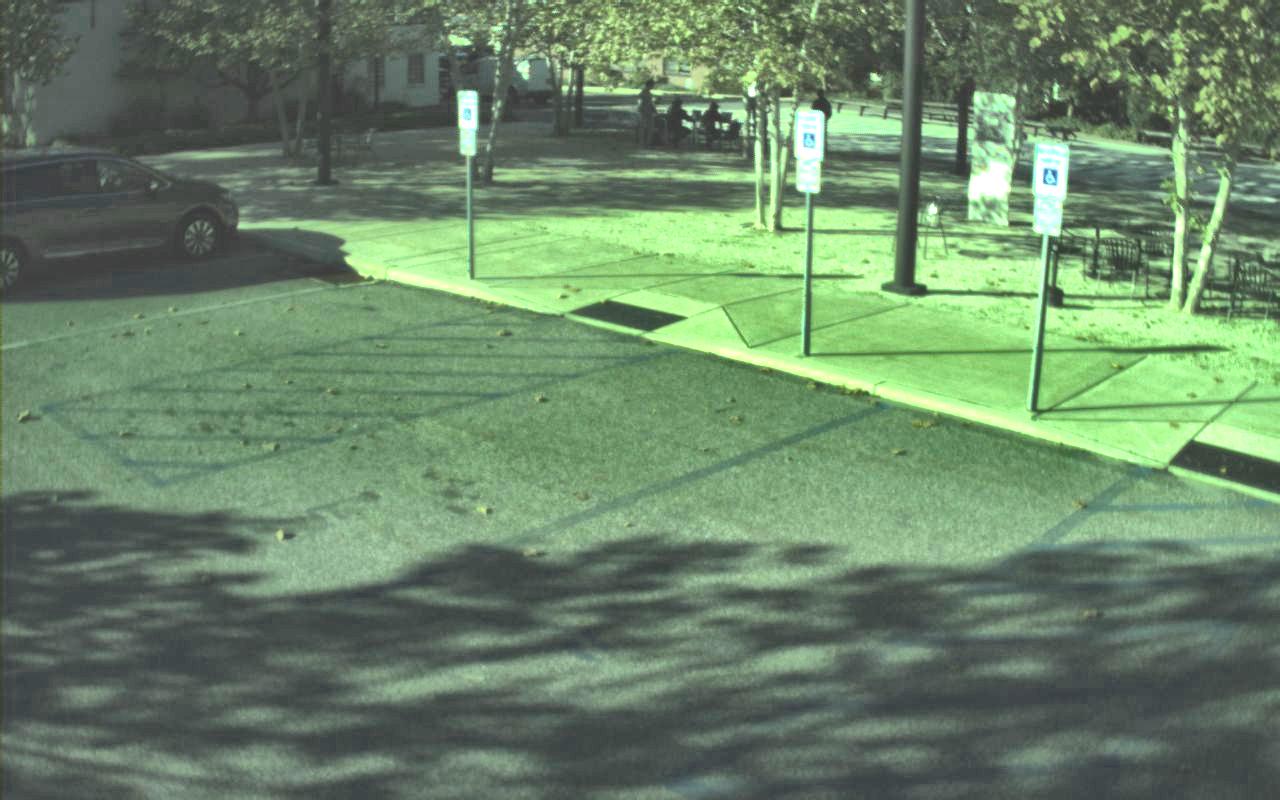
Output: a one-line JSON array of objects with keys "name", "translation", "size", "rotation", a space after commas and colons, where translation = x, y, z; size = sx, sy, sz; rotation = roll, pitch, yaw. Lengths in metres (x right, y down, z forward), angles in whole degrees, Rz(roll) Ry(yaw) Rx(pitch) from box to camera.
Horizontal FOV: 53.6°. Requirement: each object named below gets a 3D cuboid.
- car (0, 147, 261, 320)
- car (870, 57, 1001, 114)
[{"name": "car", "translation": [-7.511, -2.370, 15.790], "size": [1.916, 1.548, 4.421], "rotation": [13, 21, 39]}, {"name": "car", "translation": [12.337, -13.087, 50.393], "size": [5.221, 2.081, 2.227], "rotation": [6, 18, 22]}]
